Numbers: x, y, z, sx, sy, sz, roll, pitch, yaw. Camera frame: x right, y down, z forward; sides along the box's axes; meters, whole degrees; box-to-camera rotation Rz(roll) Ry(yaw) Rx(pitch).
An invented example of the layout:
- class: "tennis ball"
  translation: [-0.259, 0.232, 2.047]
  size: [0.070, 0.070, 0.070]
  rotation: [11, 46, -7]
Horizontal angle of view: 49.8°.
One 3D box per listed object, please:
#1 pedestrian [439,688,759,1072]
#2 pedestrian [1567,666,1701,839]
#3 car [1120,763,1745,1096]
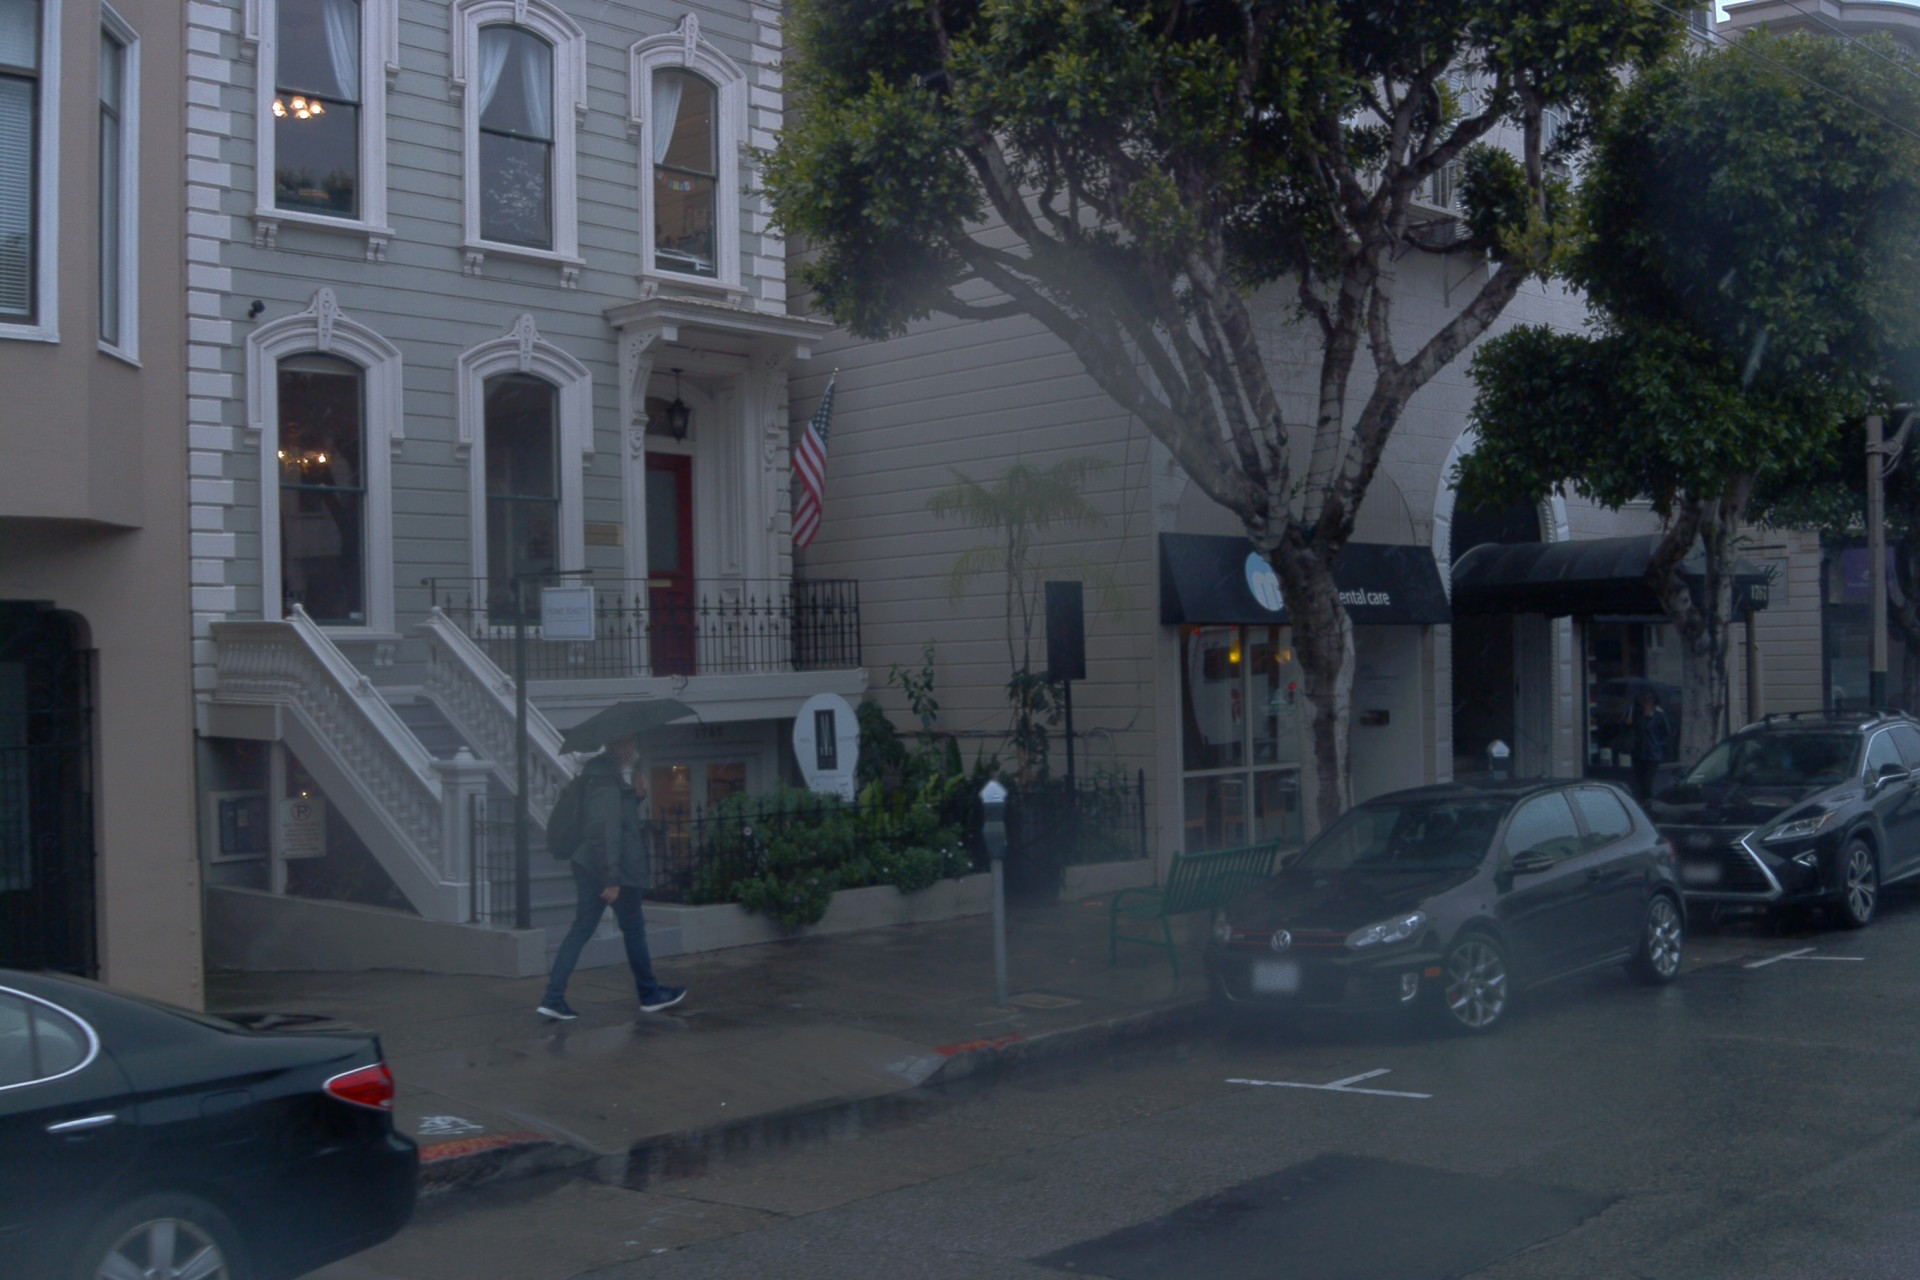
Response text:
- class: "pedestrian"
  translation: [-2.207, 1.388, 12.699]
  size: [1.167, 2.120, 1.522]
  rotation: [2, 1, 44]
- class: "pedestrian"
  translation: [7.905, 1.287, 24.244]
  size: [1.097, 1.928, 1.116]
  rotation: [2, 1, 42]
- class: "car"
  translation: [3.261, 1.728, 13.676]
  size: [2.125, 1.510, 4.385]
  rotation: [2, 1, 42]
